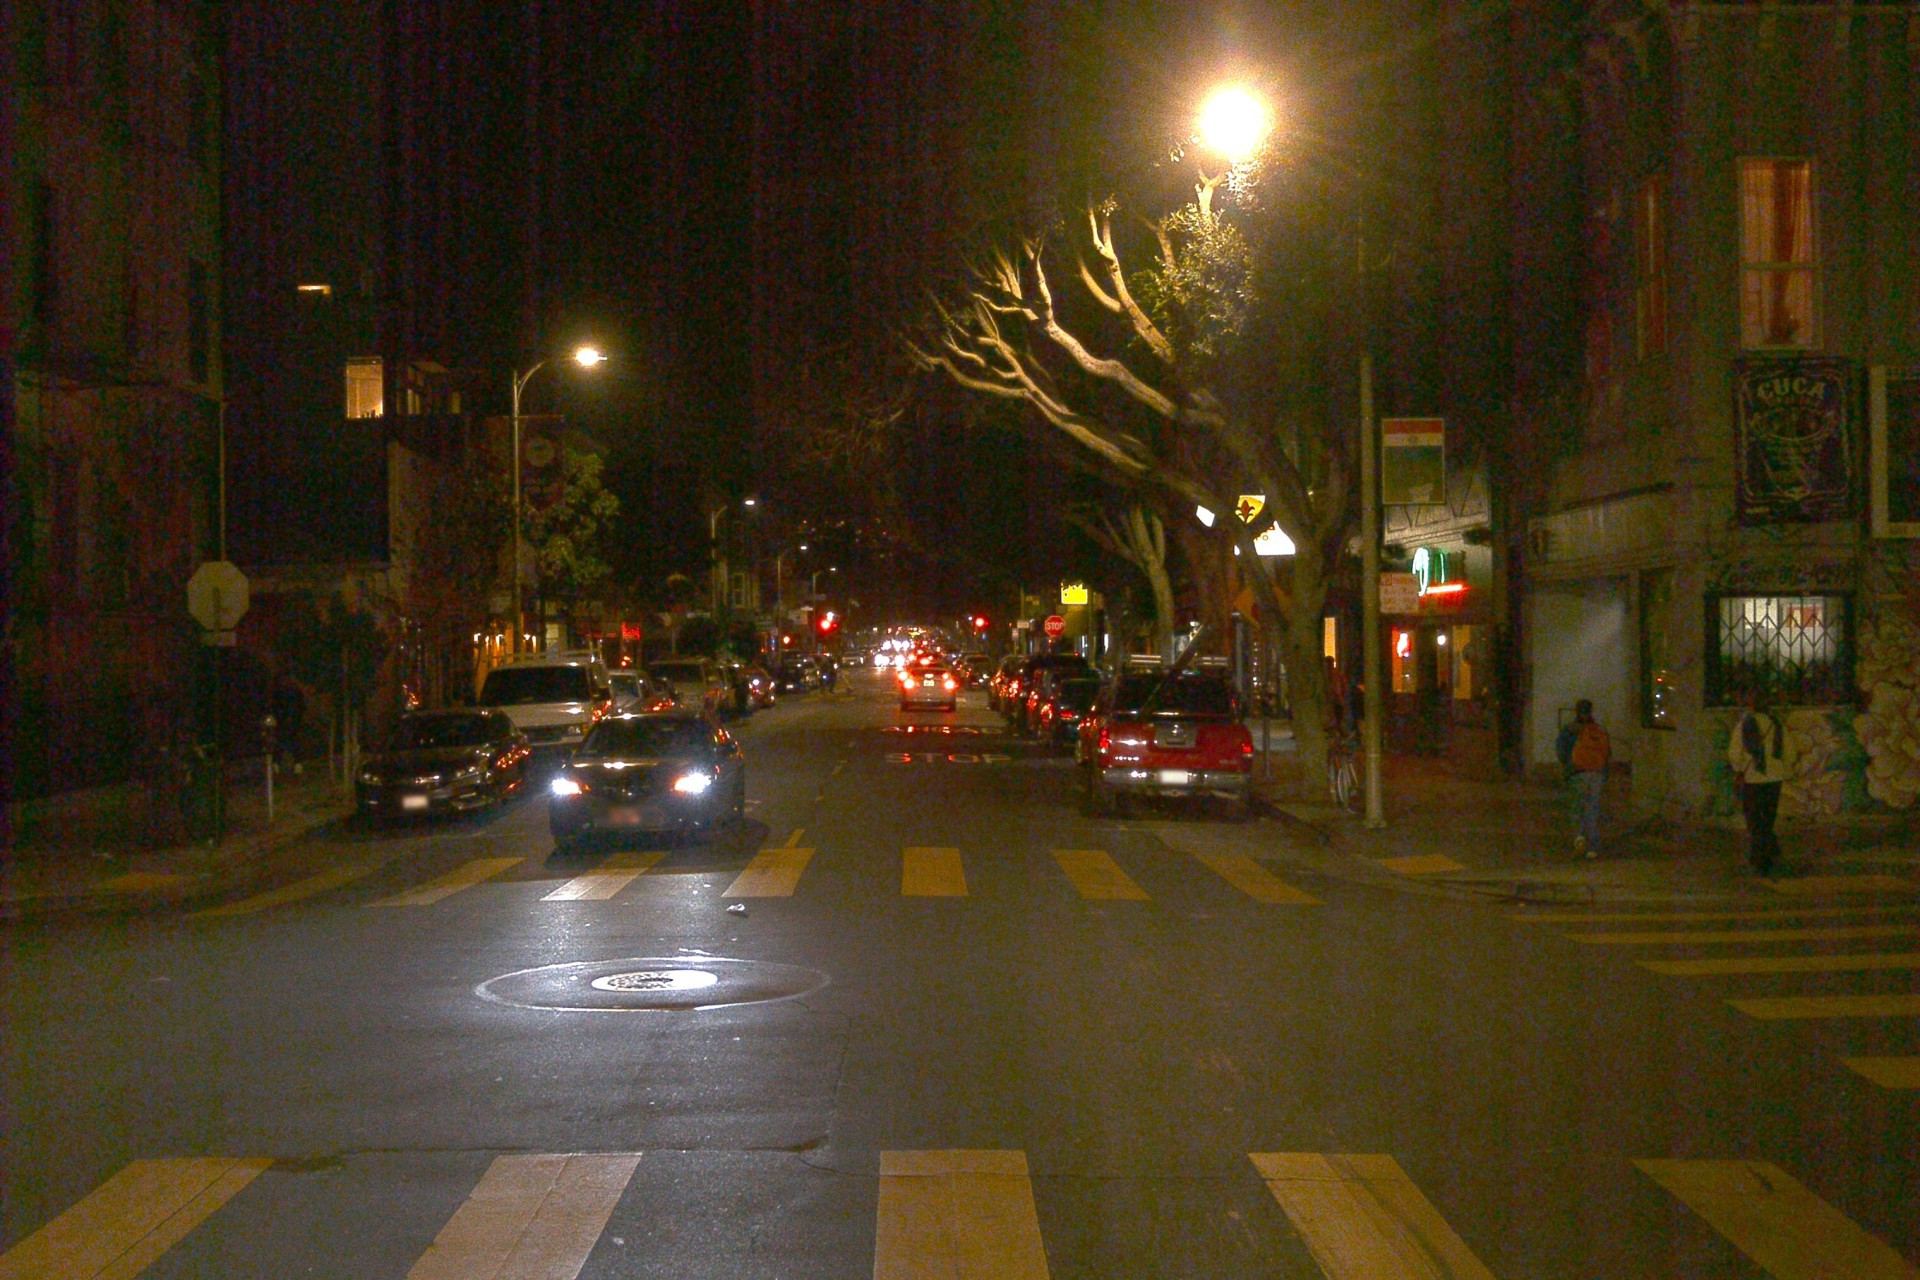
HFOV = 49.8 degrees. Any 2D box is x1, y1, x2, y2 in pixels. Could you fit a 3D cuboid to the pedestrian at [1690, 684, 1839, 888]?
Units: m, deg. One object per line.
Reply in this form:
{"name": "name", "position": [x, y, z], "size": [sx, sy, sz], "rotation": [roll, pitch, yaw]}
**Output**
{"name": "pedestrian", "position": [7.089, 1.262, 18.285], "size": [0.875, 1.720, 1.083], "rotation": [0, 0, 1]}

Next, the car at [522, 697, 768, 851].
{"name": "car", "position": [-3.596, 1.505, 24.585], "size": [2.245, 1.520, 4.895], "rotation": [0, 0, -1]}

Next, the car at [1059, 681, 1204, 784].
{"name": "car", "position": [2.876, 1.537, 35.550], "size": [2.035, 1.590, 4.289], "rotation": [0, 0, -1]}

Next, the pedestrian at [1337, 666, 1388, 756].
{"name": "pedestrian", "position": [6.895, 1.204, 35.440], "size": [0.681, 1.520, 0.704], "rotation": [0, 0, -3]}

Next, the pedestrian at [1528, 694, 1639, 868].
{"name": "pedestrian", "position": [6.161, 1.374, 20.494], "size": [0.750, 1.660, 1.057], "rotation": [0, 0, 0]}

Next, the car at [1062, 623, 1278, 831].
{"name": "car", "position": [2.769, 1.080, 28.510], "size": [2.609, 2.510, 6.384], "rotation": [0, 0, 4]}

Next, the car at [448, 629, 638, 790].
{"name": "car", "position": [-7.098, 1.127, 35.851], "size": [2.537, 2.560, 5.516], "rotation": [0, 0, -4]}

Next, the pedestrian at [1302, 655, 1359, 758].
{"name": "pedestrian", "position": [6.316, 1.117, 35.299], "size": [0.721, 1.730, 1.001], "rotation": [0, 0, -3]}

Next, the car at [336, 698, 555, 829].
{"name": "car", "position": [-7.136, 1.667, 29.239], "size": [2.111, 1.570, 4.965], "rotation": [0, 0, -3]}

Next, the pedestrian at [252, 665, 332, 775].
{"name": "pedestrian", "position": [-11.290, 1.340, 34.994], "size": [1.017, 1.830, 1.016], "rotation": [0, 0, 1]}
